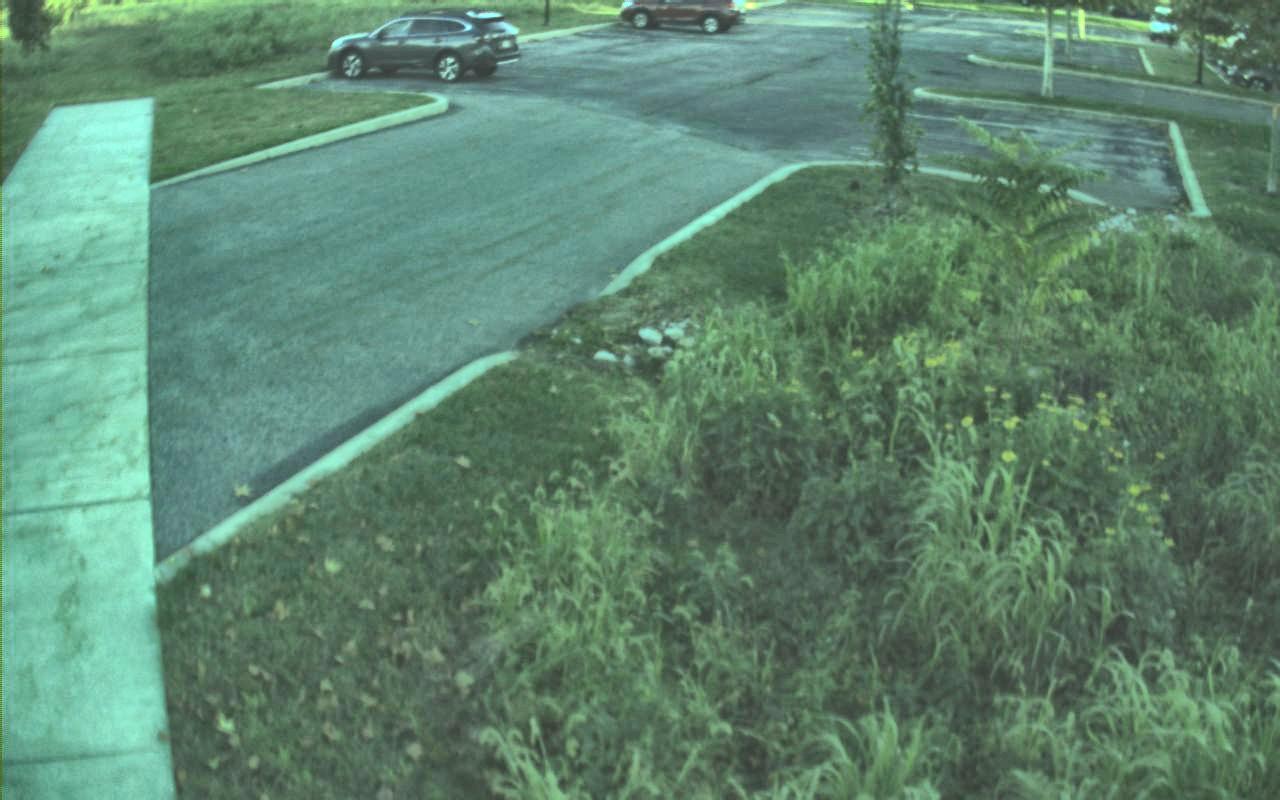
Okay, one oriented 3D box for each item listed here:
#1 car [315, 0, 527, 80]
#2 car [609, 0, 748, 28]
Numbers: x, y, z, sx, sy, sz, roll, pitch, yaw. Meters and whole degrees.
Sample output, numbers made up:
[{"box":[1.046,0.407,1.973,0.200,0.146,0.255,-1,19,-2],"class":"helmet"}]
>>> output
[{"box":[-5.248,-8.525,28.737,4.712,1.659,2.028,6,17,22],"class":"car"},{"box":[1.423,-14.398,44.659,4.700,1.652,2.015,4,16,16],"class":"car"}]
